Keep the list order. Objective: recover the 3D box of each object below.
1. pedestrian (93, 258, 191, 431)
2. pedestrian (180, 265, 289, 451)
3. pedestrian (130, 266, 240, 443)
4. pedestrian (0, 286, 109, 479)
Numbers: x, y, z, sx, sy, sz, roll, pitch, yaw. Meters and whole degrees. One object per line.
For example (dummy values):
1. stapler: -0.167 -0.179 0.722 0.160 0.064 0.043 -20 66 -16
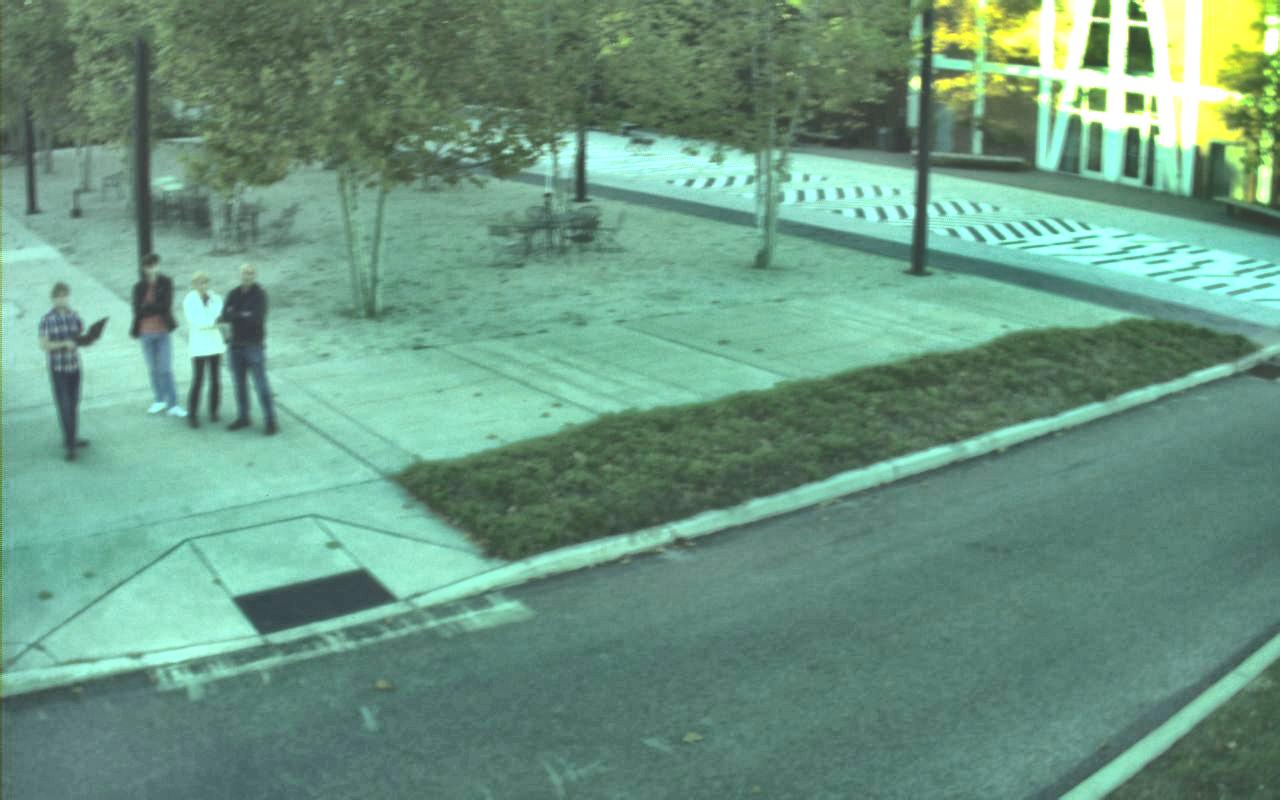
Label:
1. pedestrian: -5.699 -0.609 13.435 0.766 1.812 0.786 -1 15 0
2. pedestrian: -4.348 -0.453 12.932 0.764 1.819 0.772 2 15 12
3. pedestrian: -5.051 -0.505 13.186 0.785 1.769 0.798 4 16 20
4. pedestrian: -6.190 -0.162 11.977 0.761 1.810 0.763 9 18 34
